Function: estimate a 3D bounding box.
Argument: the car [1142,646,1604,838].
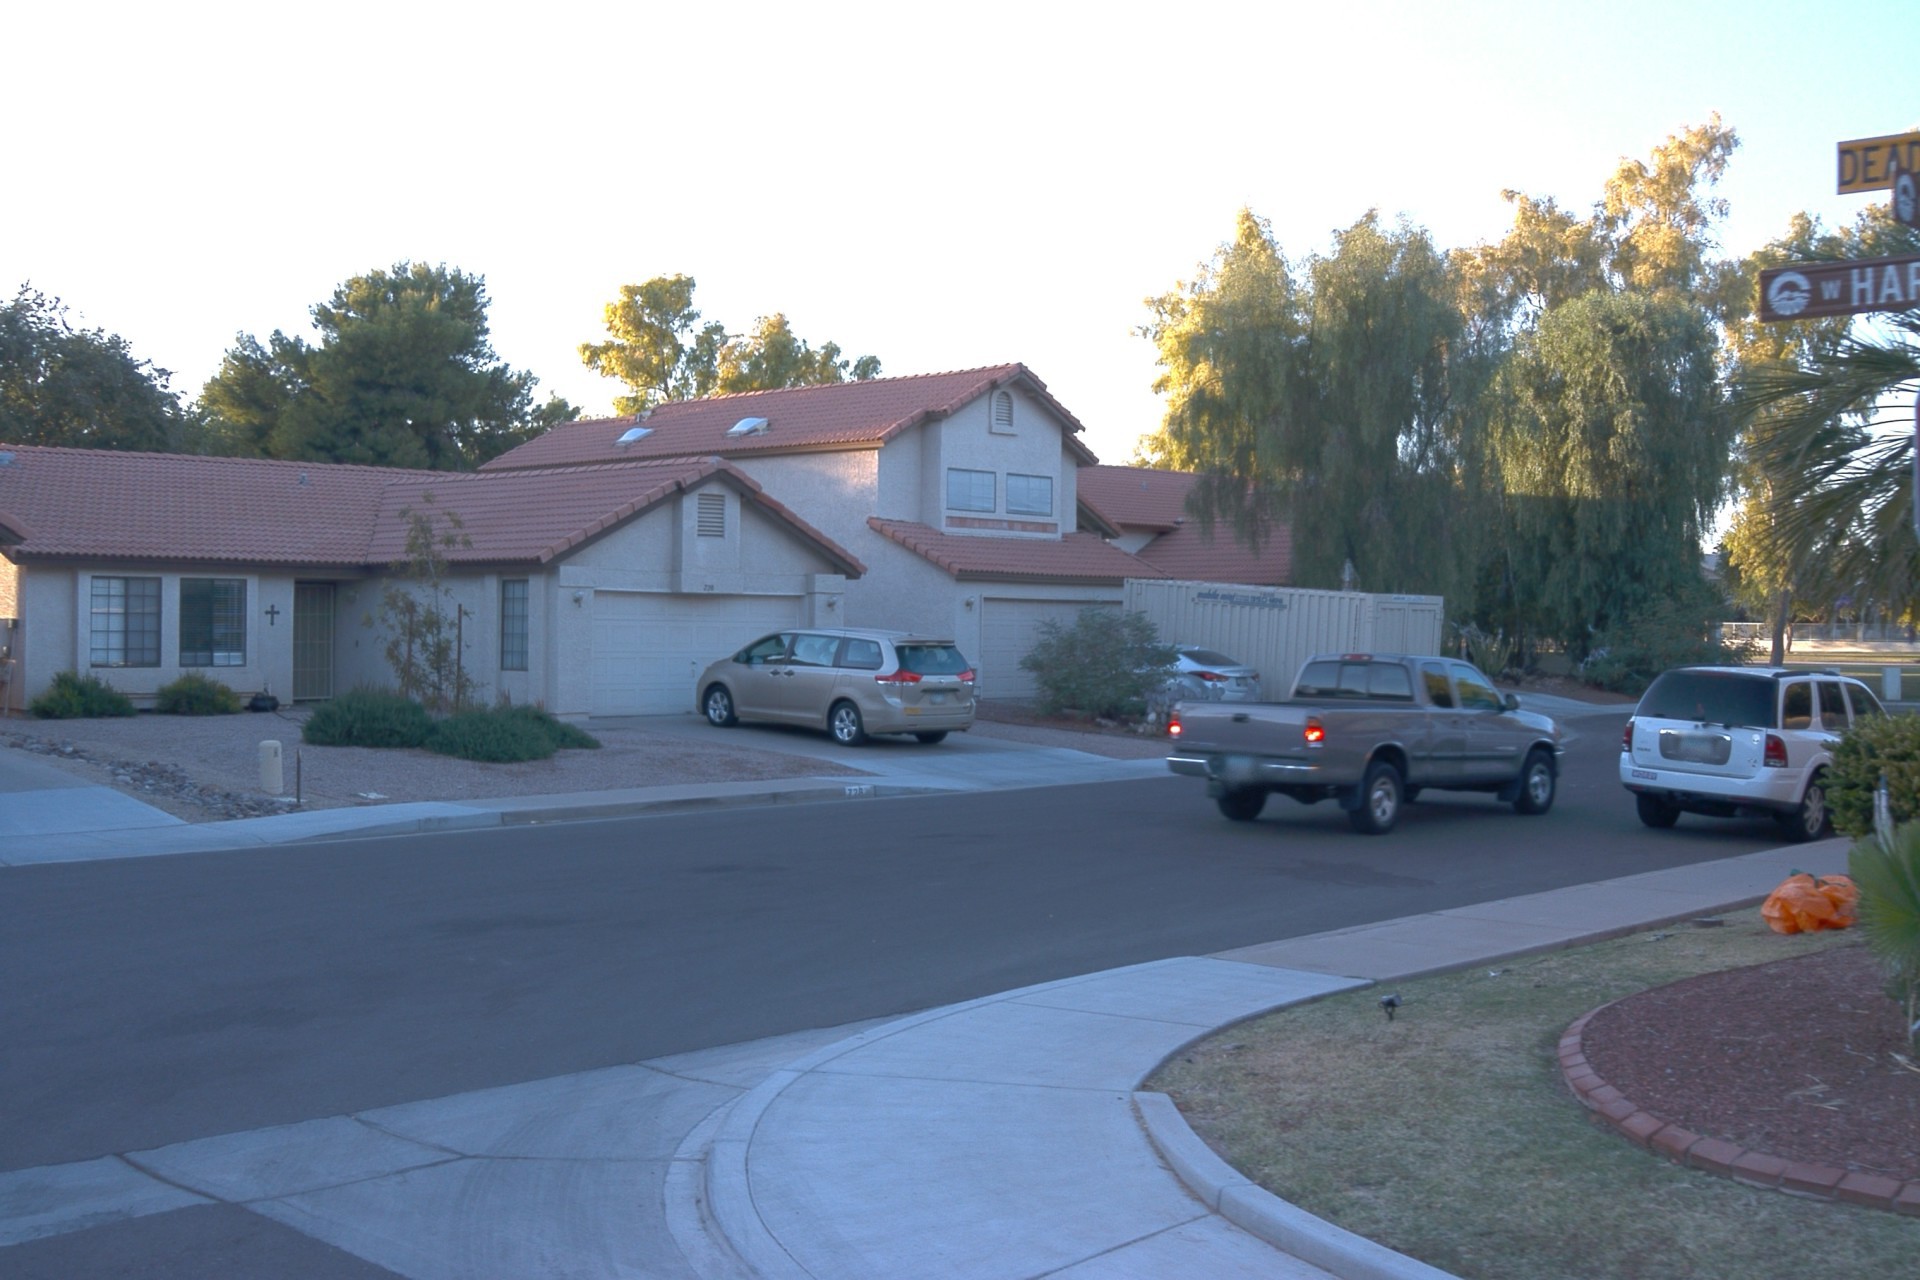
[{"bbox_3d":[4.616,0.992,22.494,2.243,1.810,5.655,0,-1,43],"label":"car"}]

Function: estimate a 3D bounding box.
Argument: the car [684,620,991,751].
[{"bbox_3d":[-2.008,0.687,32.875,4.850,1.910,2.173,0,-1,45],"label":"car"}]
